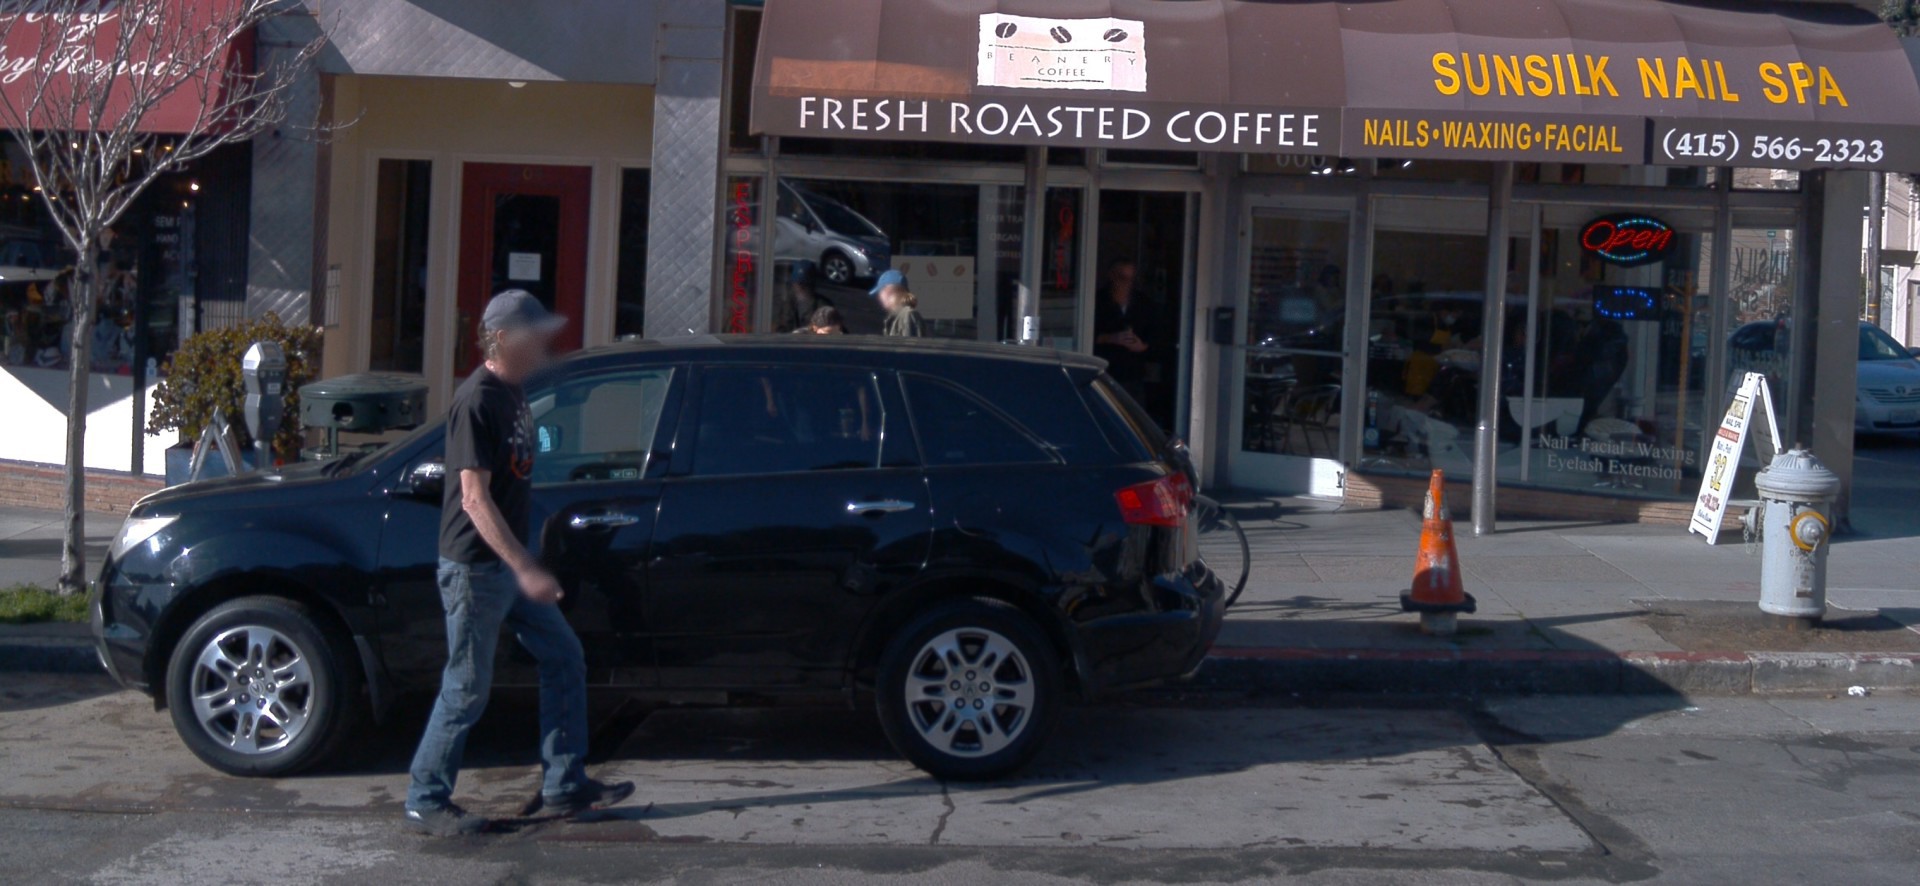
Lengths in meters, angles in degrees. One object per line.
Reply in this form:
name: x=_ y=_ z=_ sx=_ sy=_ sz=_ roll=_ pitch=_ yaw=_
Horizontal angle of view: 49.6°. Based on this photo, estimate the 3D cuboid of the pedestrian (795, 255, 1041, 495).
pedestrian: x=-0.278 y=-0.492 z=13.689 sx=1.332 sy=1.457 sz=0.886 roll=3 pitch=3 yaw=32

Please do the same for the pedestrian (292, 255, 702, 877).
pedestrian: x=-1.576 y=0.366 z=7.248 sx=1.190 sy=2.006 sz=0.878 roll=1 pitch=2 yaw=1

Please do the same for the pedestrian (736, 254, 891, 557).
pedestrian: x=-0.949 y=-0.276 z=13.383 sx=0.688 sy=1.856 sz=0.750 roll=0 pitch=2 yaw=-36
